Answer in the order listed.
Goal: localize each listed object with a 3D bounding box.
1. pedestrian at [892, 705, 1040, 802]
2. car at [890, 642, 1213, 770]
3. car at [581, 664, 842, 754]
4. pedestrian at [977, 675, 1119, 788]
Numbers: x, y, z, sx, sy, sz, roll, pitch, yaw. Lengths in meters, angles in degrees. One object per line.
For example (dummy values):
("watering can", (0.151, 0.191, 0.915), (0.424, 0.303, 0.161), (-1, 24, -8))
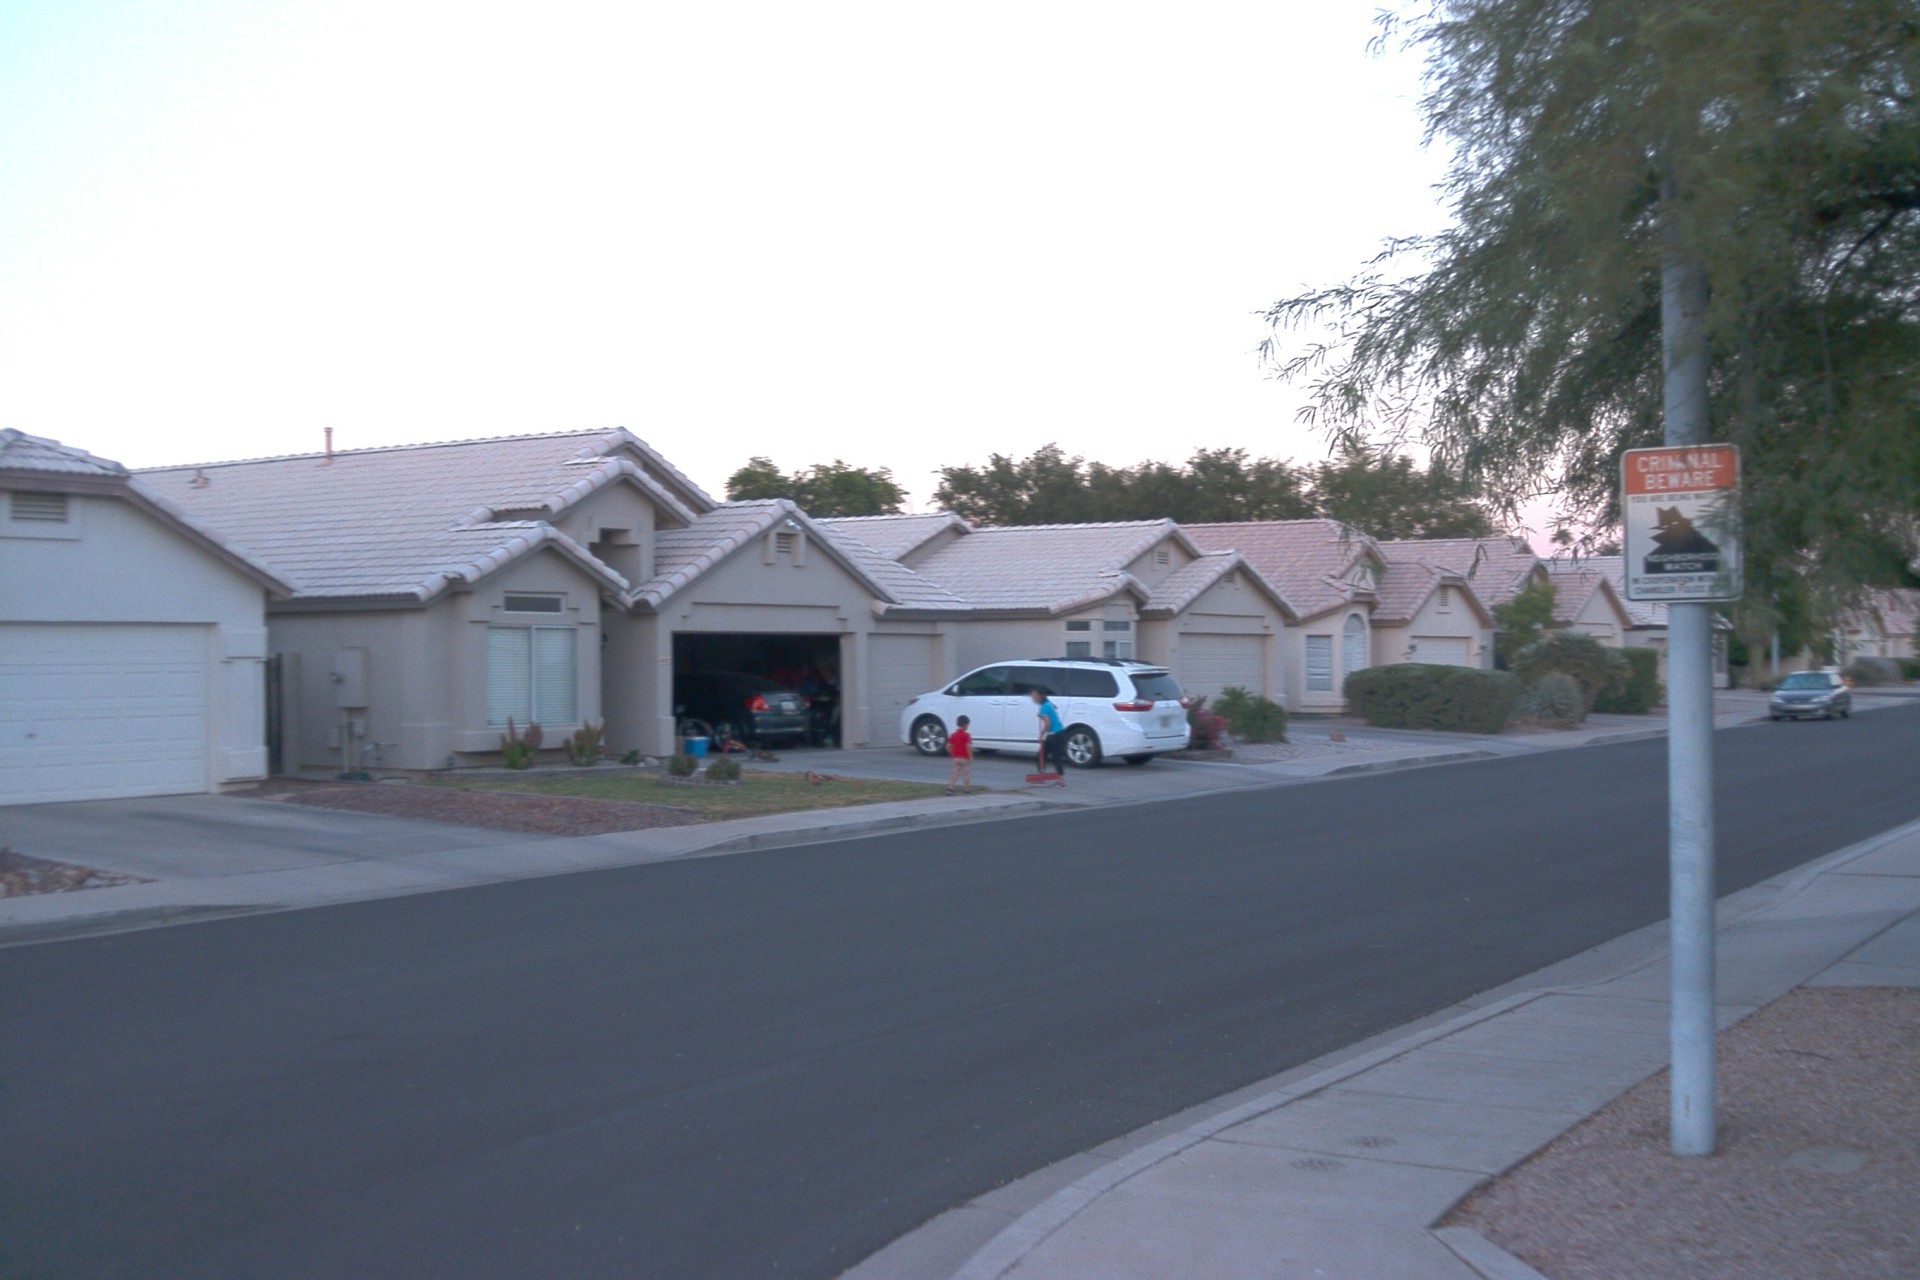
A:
("pedestrian", (0.078, 1.535, 28.381), (1.350, 1.240, 1.541), (1, -1, -41))
("car", (1.523, 1.077, 35.391), (5.085, 2.040, 2.340), (0, -1, 36))
("car", (-4.540, 1.211, 37.471), (4.611, 1.520, 1.874), (0, -1, 35))
("pedestrian", (1.249, 1.296, 29.933), (1.510, 1.570, 1.685), (0, -1, -20))
